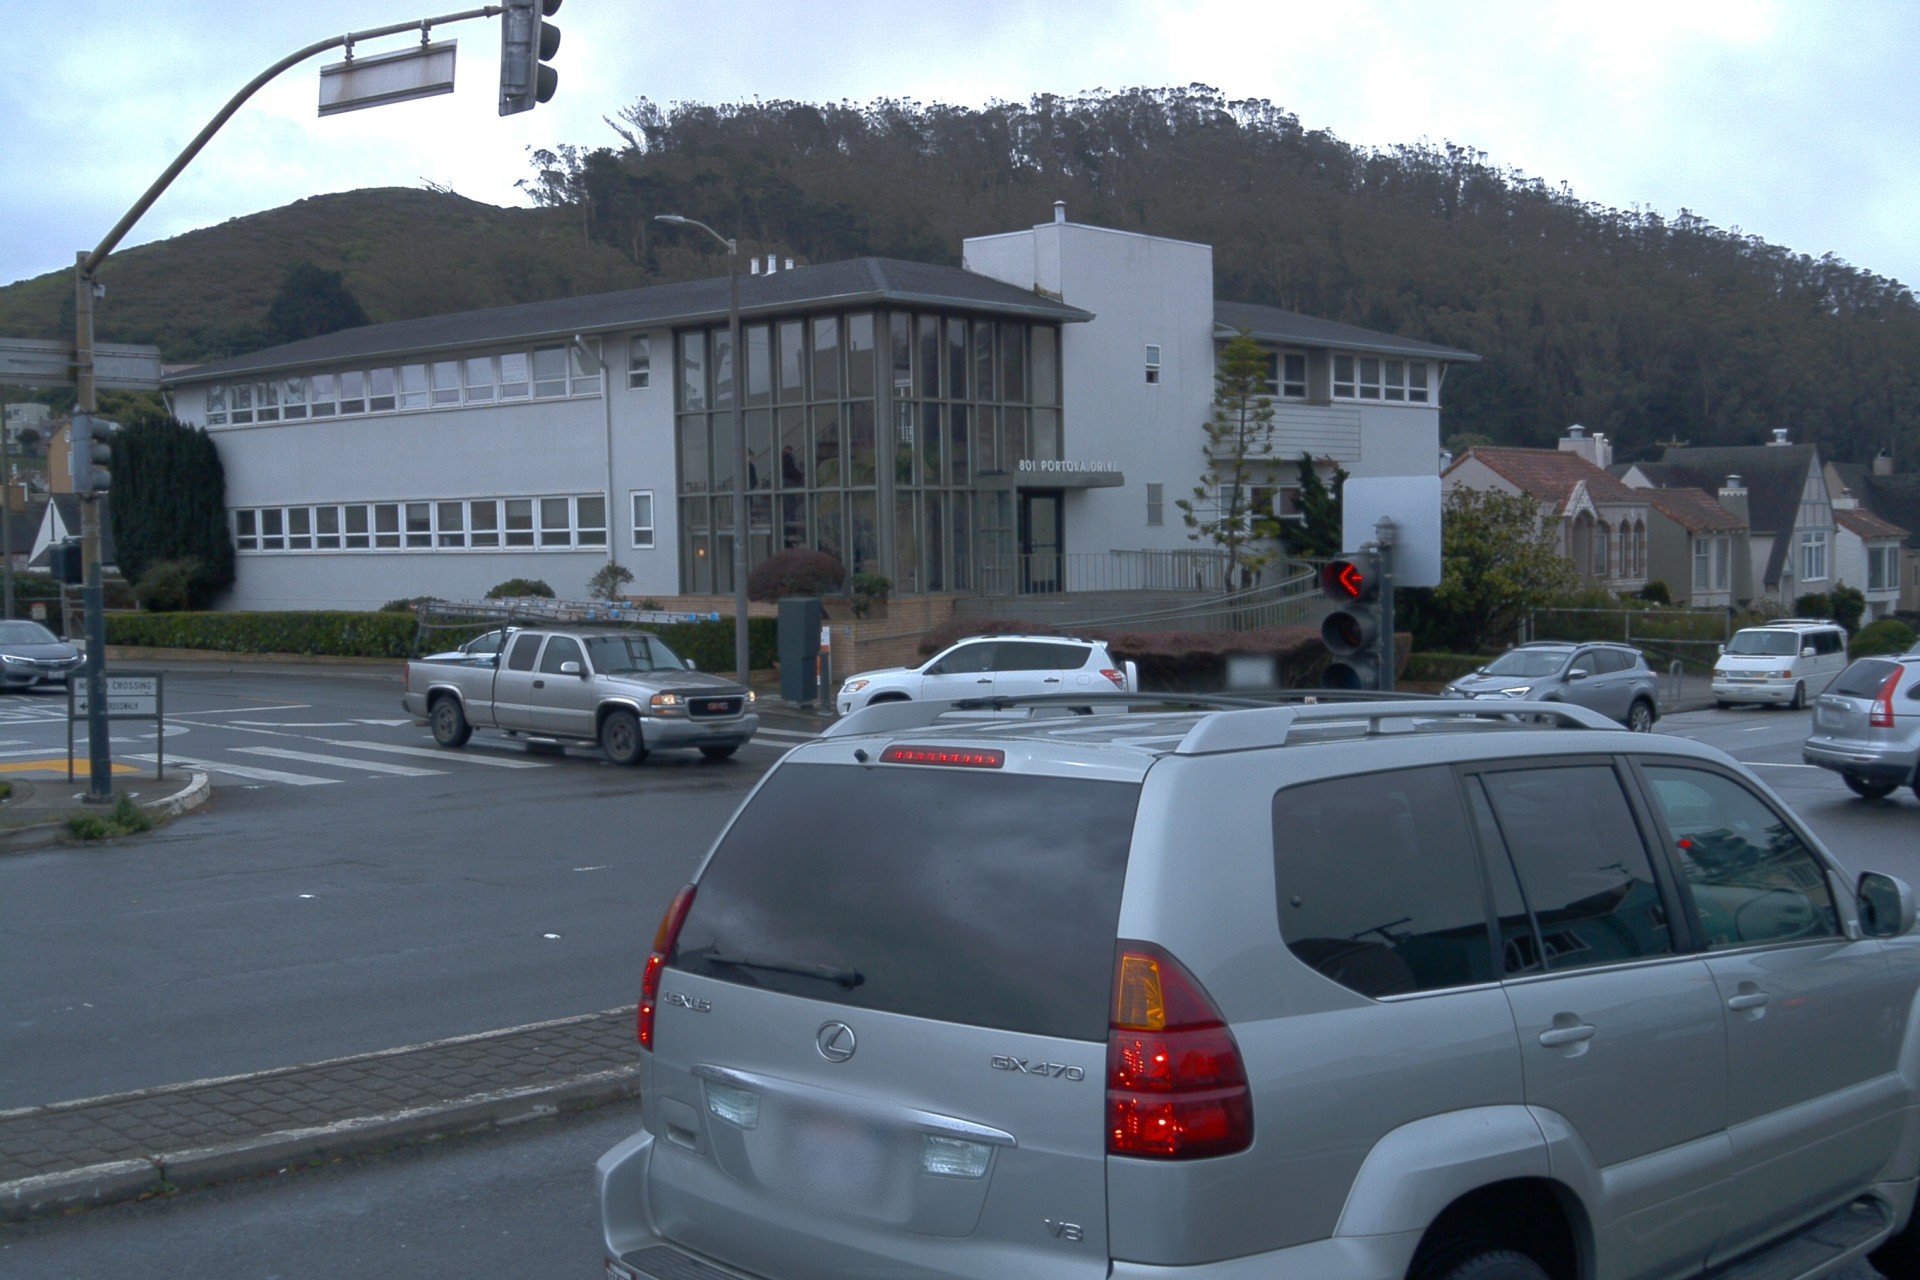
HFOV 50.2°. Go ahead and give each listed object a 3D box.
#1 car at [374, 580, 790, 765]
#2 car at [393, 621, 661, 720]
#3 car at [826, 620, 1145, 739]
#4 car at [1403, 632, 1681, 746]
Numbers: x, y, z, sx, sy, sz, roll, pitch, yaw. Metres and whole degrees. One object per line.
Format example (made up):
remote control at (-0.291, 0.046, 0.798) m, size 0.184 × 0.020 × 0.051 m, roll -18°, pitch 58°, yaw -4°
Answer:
car at (-5.406, 0.368, 28.840) m, size 5.959 × 2.350 × 2.439 m, roll 1°, pitch 1°, yaw 39°
car at (-7.651, 0.480, 36.060) m, size 4.648 × 1.610 × 2.070 m, roll 1°, pitch 1°, yaw 37°
car at (0.402, 0.572, 31.540) m, size 4.739 × 1.740 × 2.052 m, roll 0°, pitch 1°, yaw 2°
car at (9.672, 0.747, 33.904) m, size 4.665 × 1.740 × 2.196 m, roll 0°, pitch 1°, yaw -41°
